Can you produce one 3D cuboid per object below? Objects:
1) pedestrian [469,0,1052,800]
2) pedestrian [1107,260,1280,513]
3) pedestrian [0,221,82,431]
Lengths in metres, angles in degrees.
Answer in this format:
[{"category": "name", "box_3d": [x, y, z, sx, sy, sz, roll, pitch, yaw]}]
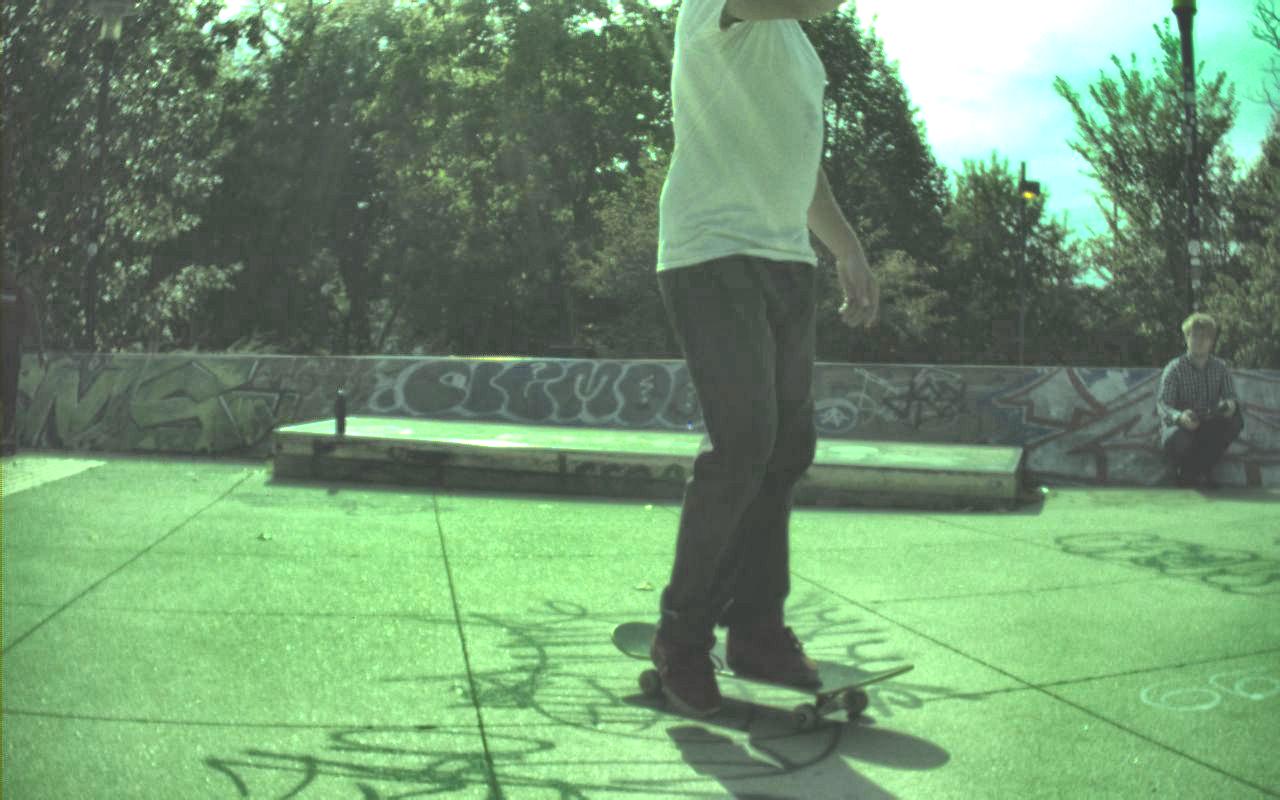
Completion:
[{"category": "pedestrian", "box_3d": [0.262, -0.045, 2.532, 0.861, 1.772, 0.905, 0, 0, -44]}, {"category": "pedestrian", "box_3d": [3.567, -0.076, 7.435, 0.878, 1.509, 0.827, 0, 0, -18]}, {"category": "pedestrian", "box_3d": [-5.145, -0.565, 9.205, 0.851, 1.642, 0.829, 1, 0, 36]}]
